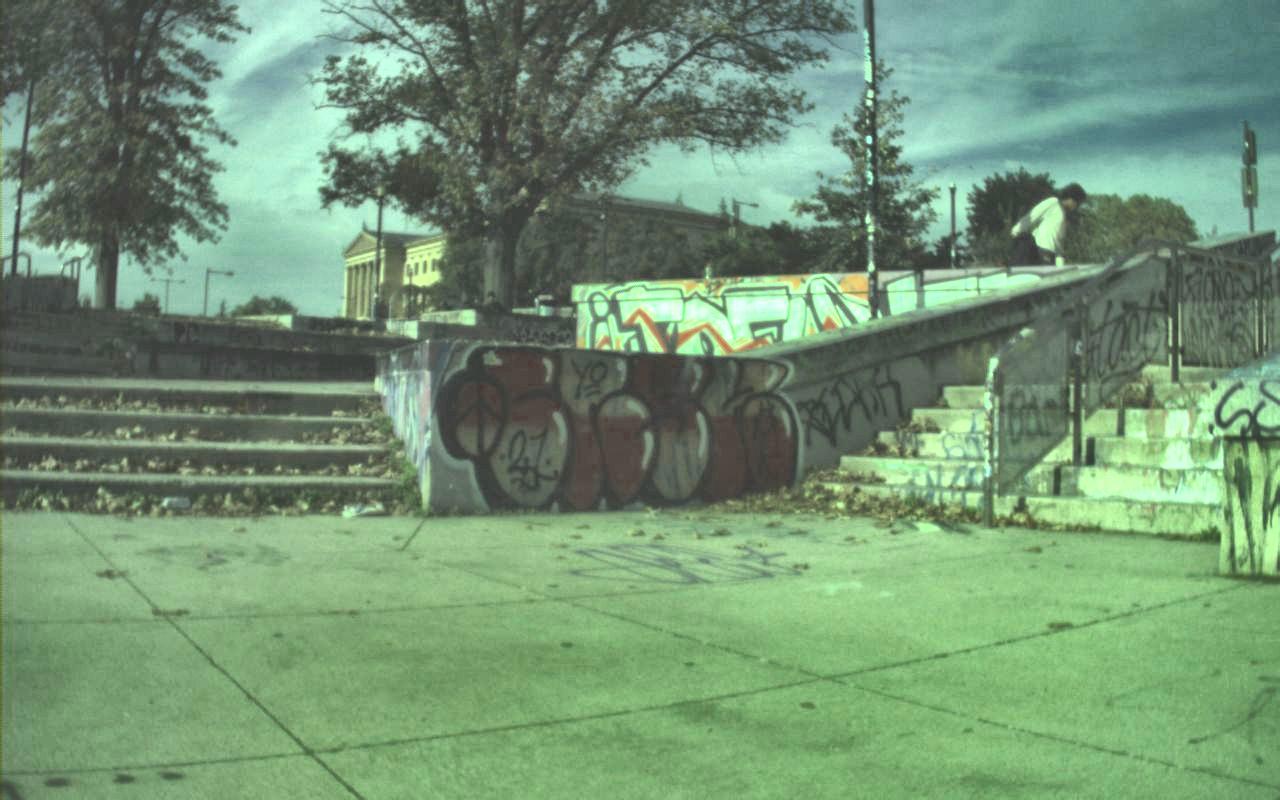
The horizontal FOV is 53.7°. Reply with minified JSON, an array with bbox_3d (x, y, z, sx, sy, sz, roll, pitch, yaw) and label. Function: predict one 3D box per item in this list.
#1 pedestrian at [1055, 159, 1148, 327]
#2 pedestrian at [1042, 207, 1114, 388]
[{"bbox_3d":[5.313,-1.763,13.720,0.794,1.845,0.768,0,0,-11],"label":"pedestrian"},{"bbox_3d":[4.443,-1.011,12.210,0.696,1.796,0.674,0,0,15],"label":"pedestrian"}]
